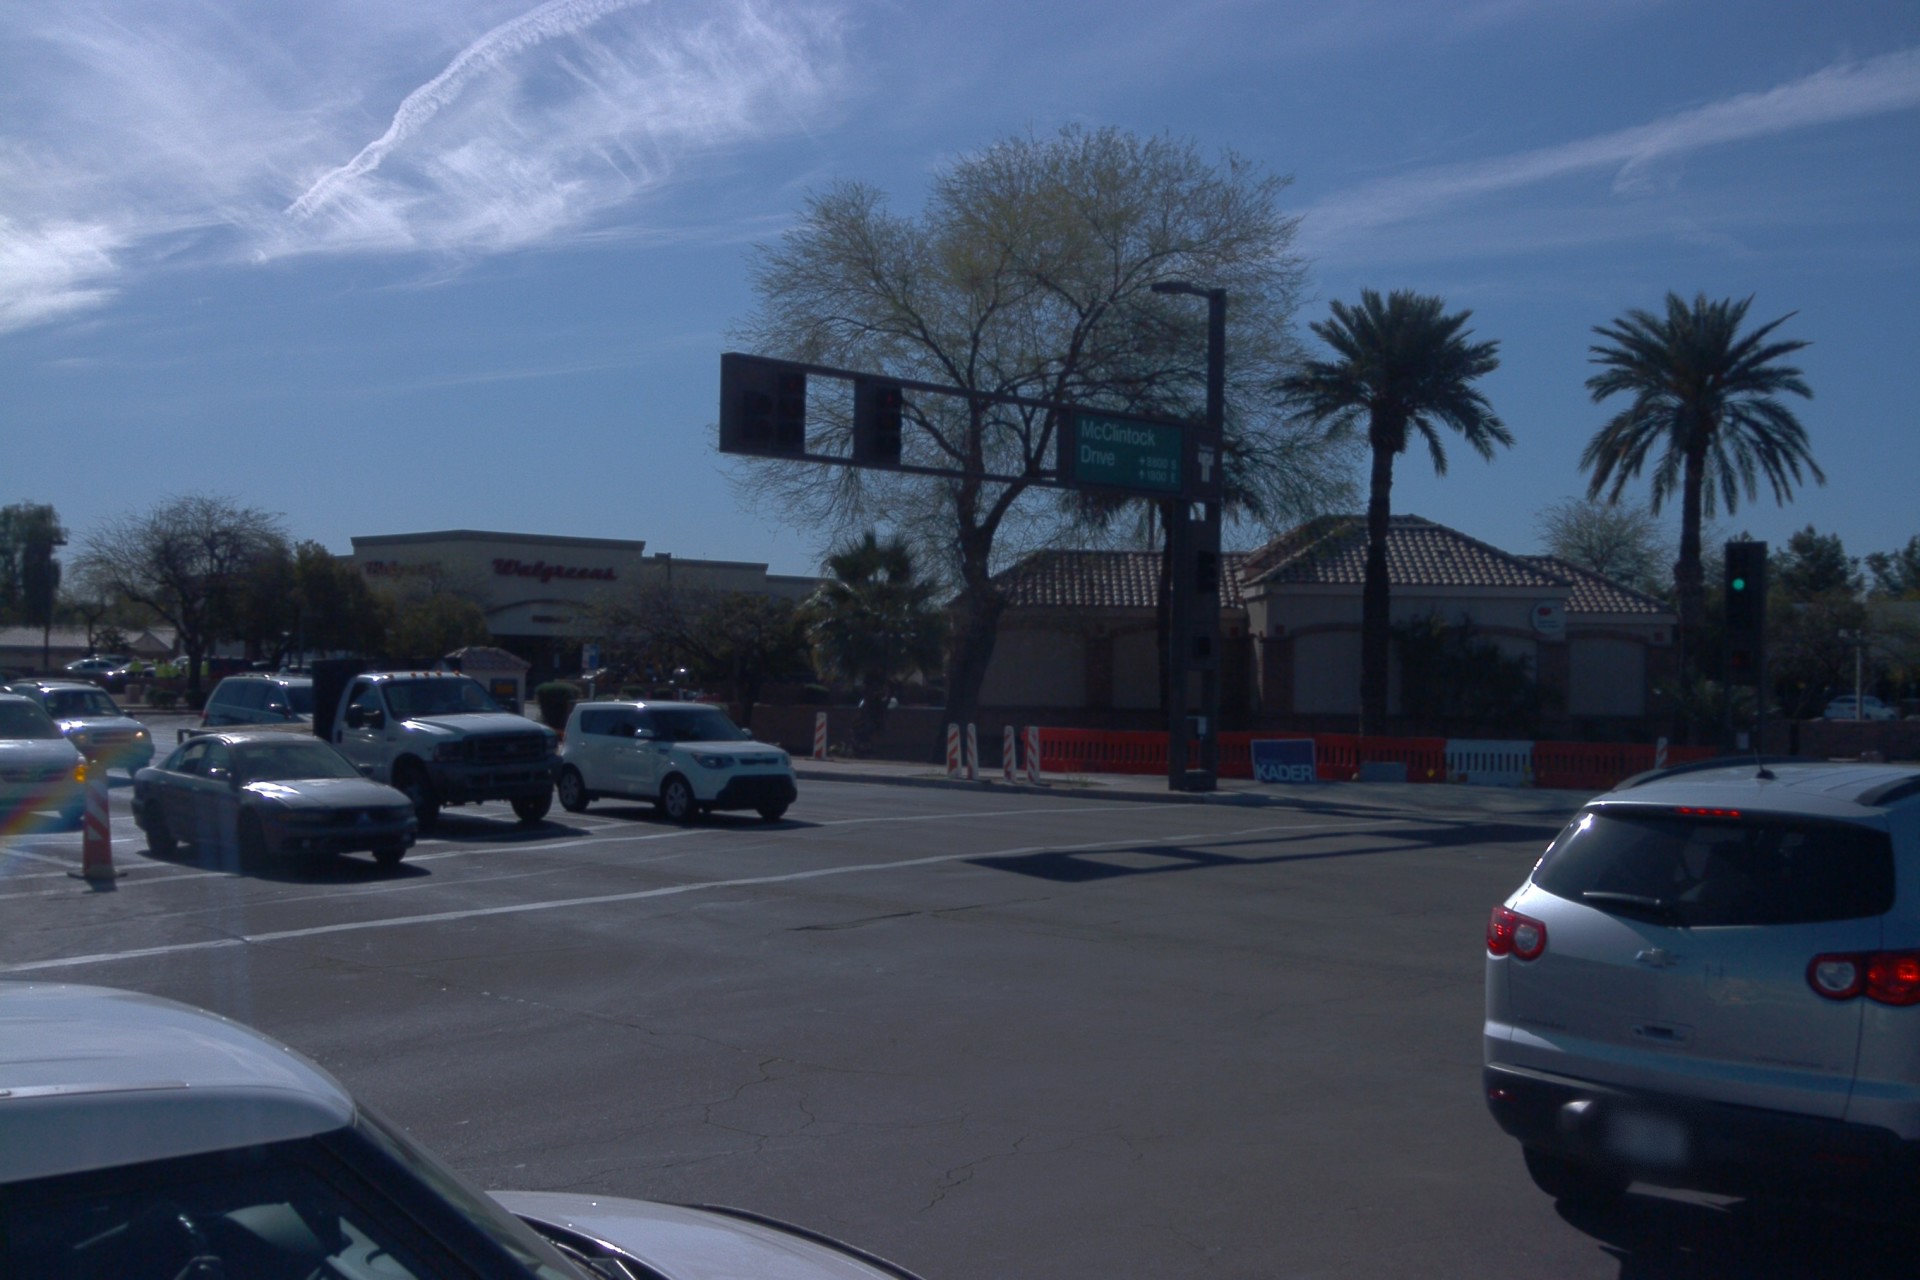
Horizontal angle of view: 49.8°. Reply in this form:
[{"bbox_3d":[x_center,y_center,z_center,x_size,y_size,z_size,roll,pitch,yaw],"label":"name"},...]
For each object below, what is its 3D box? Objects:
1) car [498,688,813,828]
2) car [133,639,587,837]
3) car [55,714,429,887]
[{"bbox_3d":[-4.380,1.588,29.252,2.060,1.720,4.681,1,-1,-44],"label":"car"},{"bbox_3d":[-8.614,1.219,29.054,7.569,2.400,2.764,0,-1,45],"label":"car"},{"bbox_3d":[-7.919,1.651,22.571,2.060,1.520,4.681,1,-1,-44],"label":"car"}]
